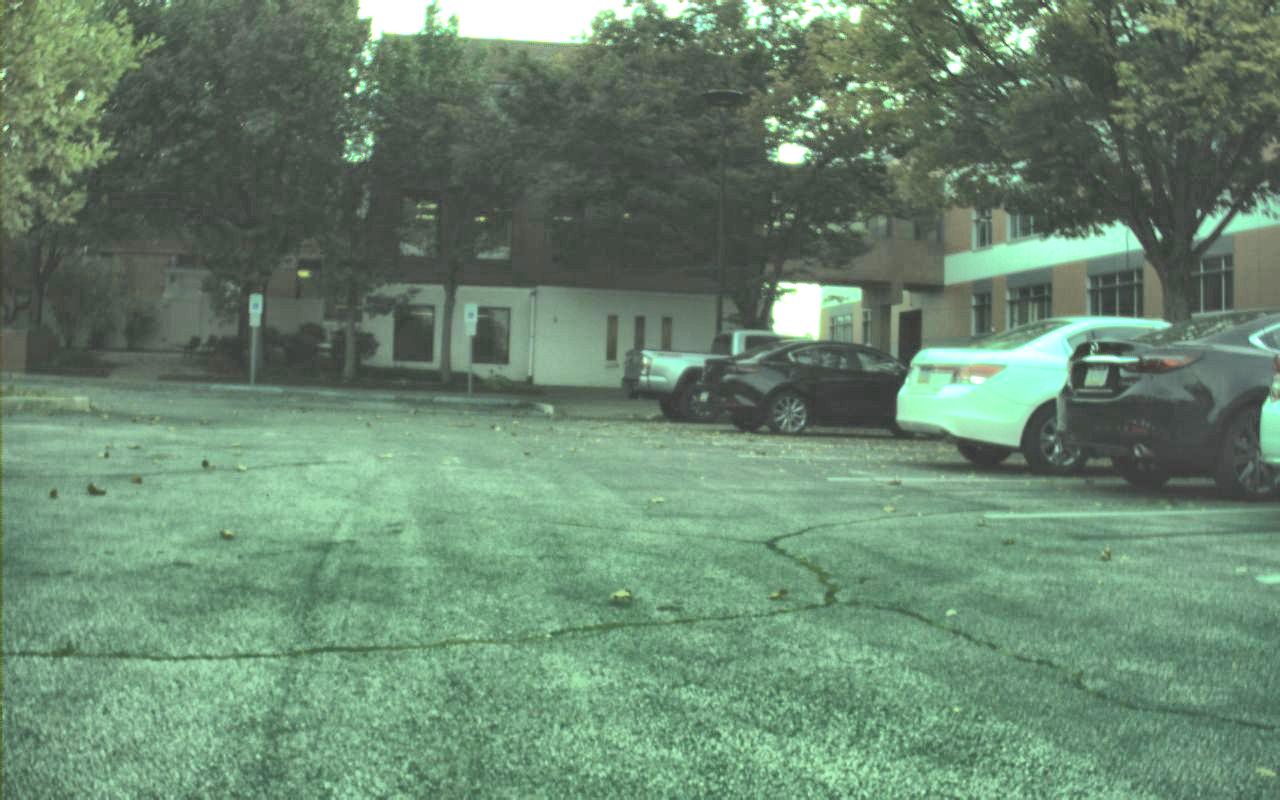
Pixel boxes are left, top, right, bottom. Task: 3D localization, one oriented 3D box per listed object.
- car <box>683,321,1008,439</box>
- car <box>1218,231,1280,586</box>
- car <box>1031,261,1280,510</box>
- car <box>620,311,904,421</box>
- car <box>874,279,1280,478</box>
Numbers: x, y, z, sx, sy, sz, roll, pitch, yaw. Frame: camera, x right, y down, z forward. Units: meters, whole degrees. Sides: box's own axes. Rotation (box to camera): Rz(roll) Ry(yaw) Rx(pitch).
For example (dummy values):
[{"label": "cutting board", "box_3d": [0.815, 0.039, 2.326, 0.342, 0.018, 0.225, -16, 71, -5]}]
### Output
[{"label": "car", "box_3d": [3.149, -0.302, 18.920, 4.609, 1.602, 1.965, 0, 1, -19]}, {"label": "car", "box_3d": [5.917, 0.023, 6.428, 4.466, 1.687, 1.952, 0, 1, -8]}, {"label": "car", "box_3d": [5.389, -0.094, 8.810, 4.461, 1.600, 1.939, 0, 1, -9]}, {"label": "car", "box_3d": [2.279, -0.622, 23.828, 5.024, 1.946, 2.115, 0, 1, -11]}, {"label": "car", "box_3d": [4.648, -0.185, 11.338, 4.594, 1.629, 1.957, 0, 1, -6]}]
